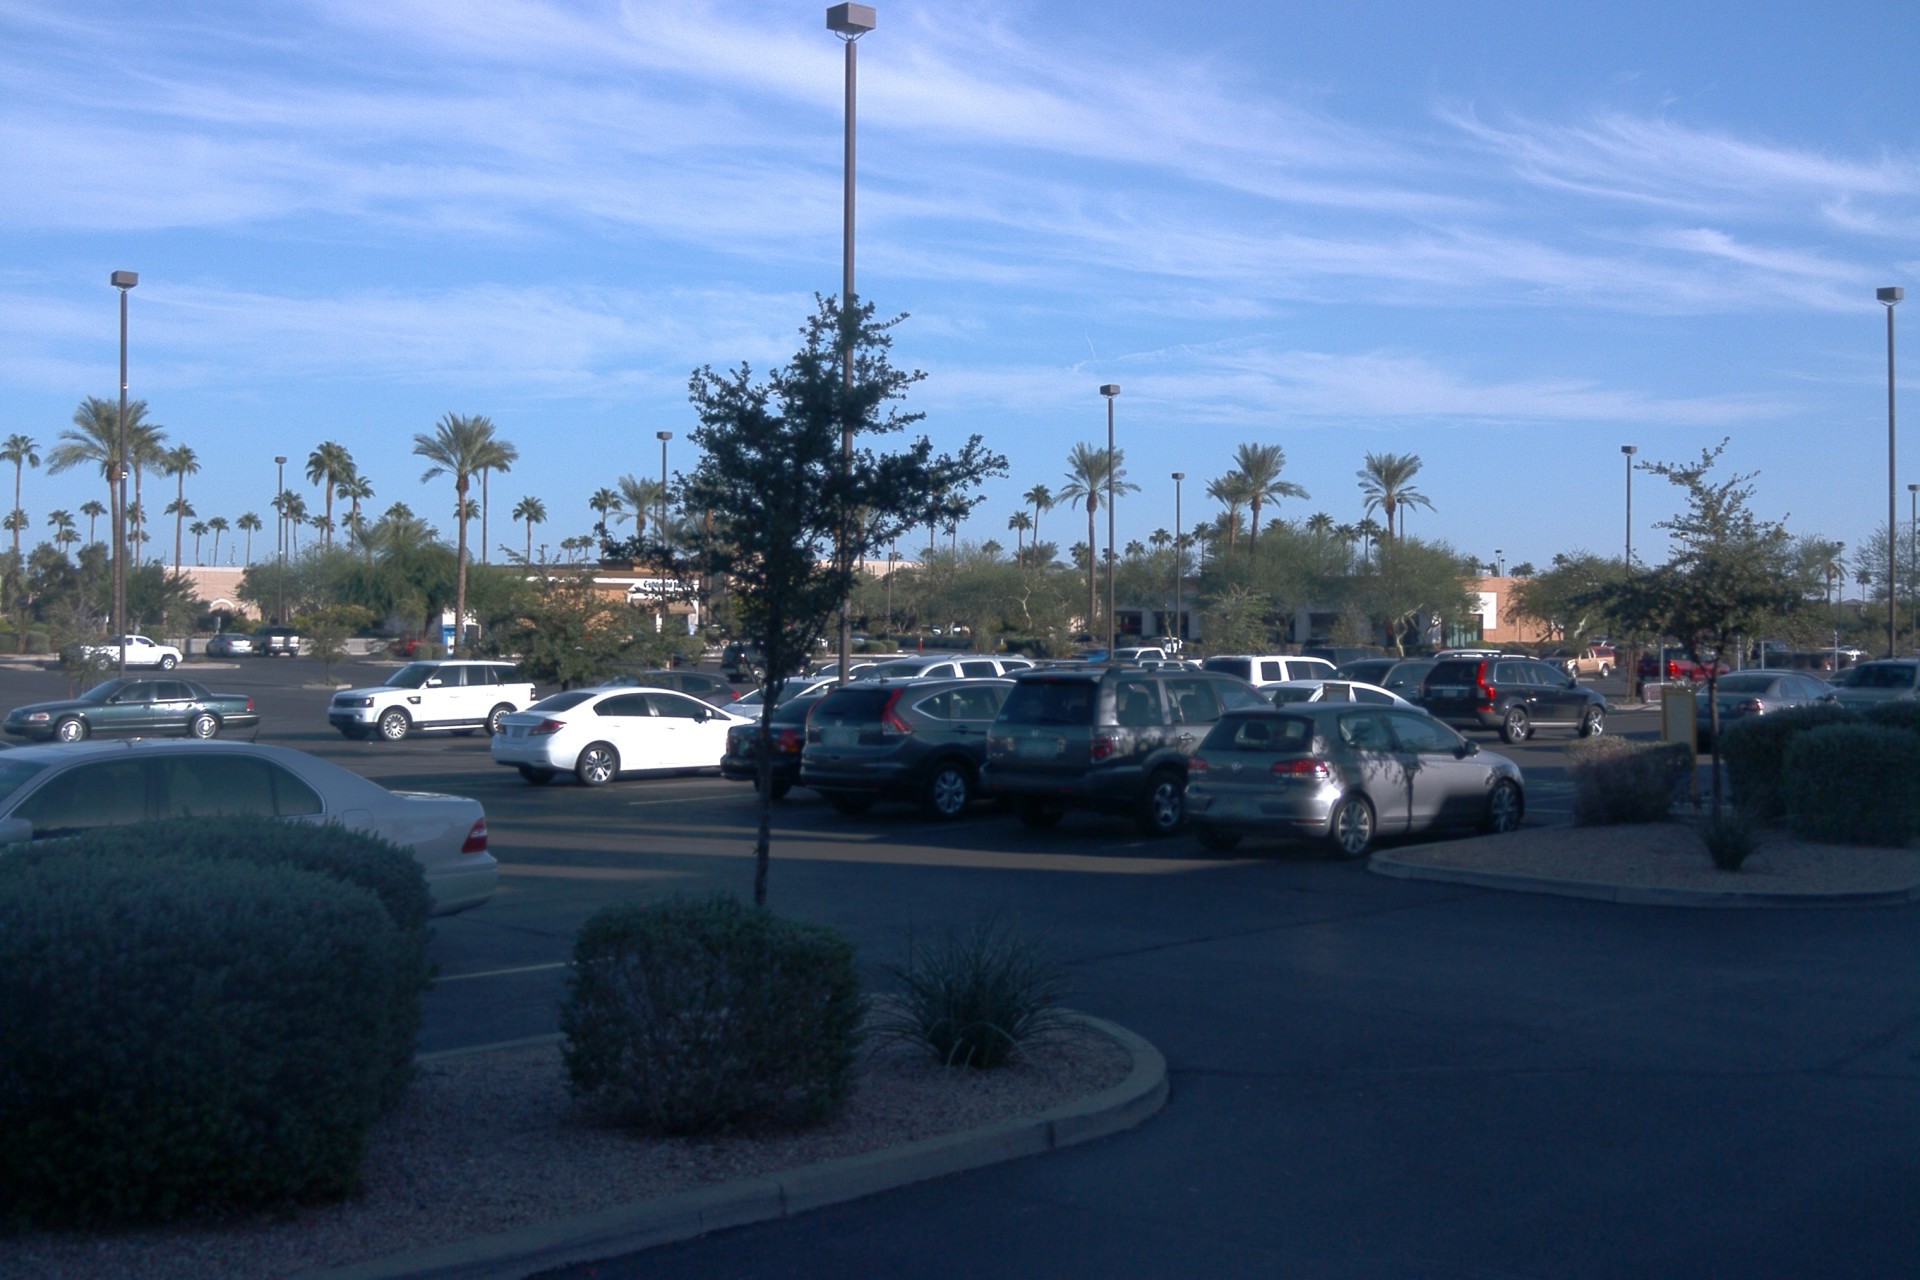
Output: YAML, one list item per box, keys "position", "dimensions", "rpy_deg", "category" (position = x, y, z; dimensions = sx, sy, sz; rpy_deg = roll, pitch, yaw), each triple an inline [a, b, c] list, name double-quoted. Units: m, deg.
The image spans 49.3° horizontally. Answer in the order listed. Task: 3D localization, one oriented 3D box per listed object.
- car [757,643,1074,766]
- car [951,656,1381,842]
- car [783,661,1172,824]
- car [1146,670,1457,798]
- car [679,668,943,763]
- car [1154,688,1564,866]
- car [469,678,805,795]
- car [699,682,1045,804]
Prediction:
- position: [-0.694, 1.020, 35.855]
  dimensions: [5.275, 1.930, 2.301]
  rpy_deg: [0, 0, -44]
  category: "car"
- position: [2.403, 1.116, 23.505]
  dimensions: [4.802, 1.820, 2.246]
  rpy_deg: [0, 0, -44]
  category: "car"
- position: [0.301, 1.153, 25.338]
  dimensions: [4.722, 1.730, 1.928]
  rpy_deg: [0, 0, -44]
  category: "car"
- position: [4.883, 1.254, 29.465]
  dimensions: [4.617, 1.570, 1.940]
  rpy_deg: [0, 0, -44]
  category: "car"
- position: [-2.610, 1.300, 37.522]
  dimensions: [1.955, 1.510, 4.563]
  rpy_deg: [0, 0, 45]
  category: "car"
- position: [4.112, 1.290, 21.116]
  dimensions: [4.453, 1.490, 1.852]
  rpy_deg: [0, 0, -44]
  category: "car"
- position: [-4.834, 1.399, 31.779]
  dimensions: [4.718, 1.530, 2.092]
  rpy_deg: [0, 0, -44]
  category: "car"
- position: [-1.105, 1.301, 27.808]
  dimensions: [4.328, 1.380, 2.040]
  rpy_deg: [0, 0, -44]
  category: "car"
